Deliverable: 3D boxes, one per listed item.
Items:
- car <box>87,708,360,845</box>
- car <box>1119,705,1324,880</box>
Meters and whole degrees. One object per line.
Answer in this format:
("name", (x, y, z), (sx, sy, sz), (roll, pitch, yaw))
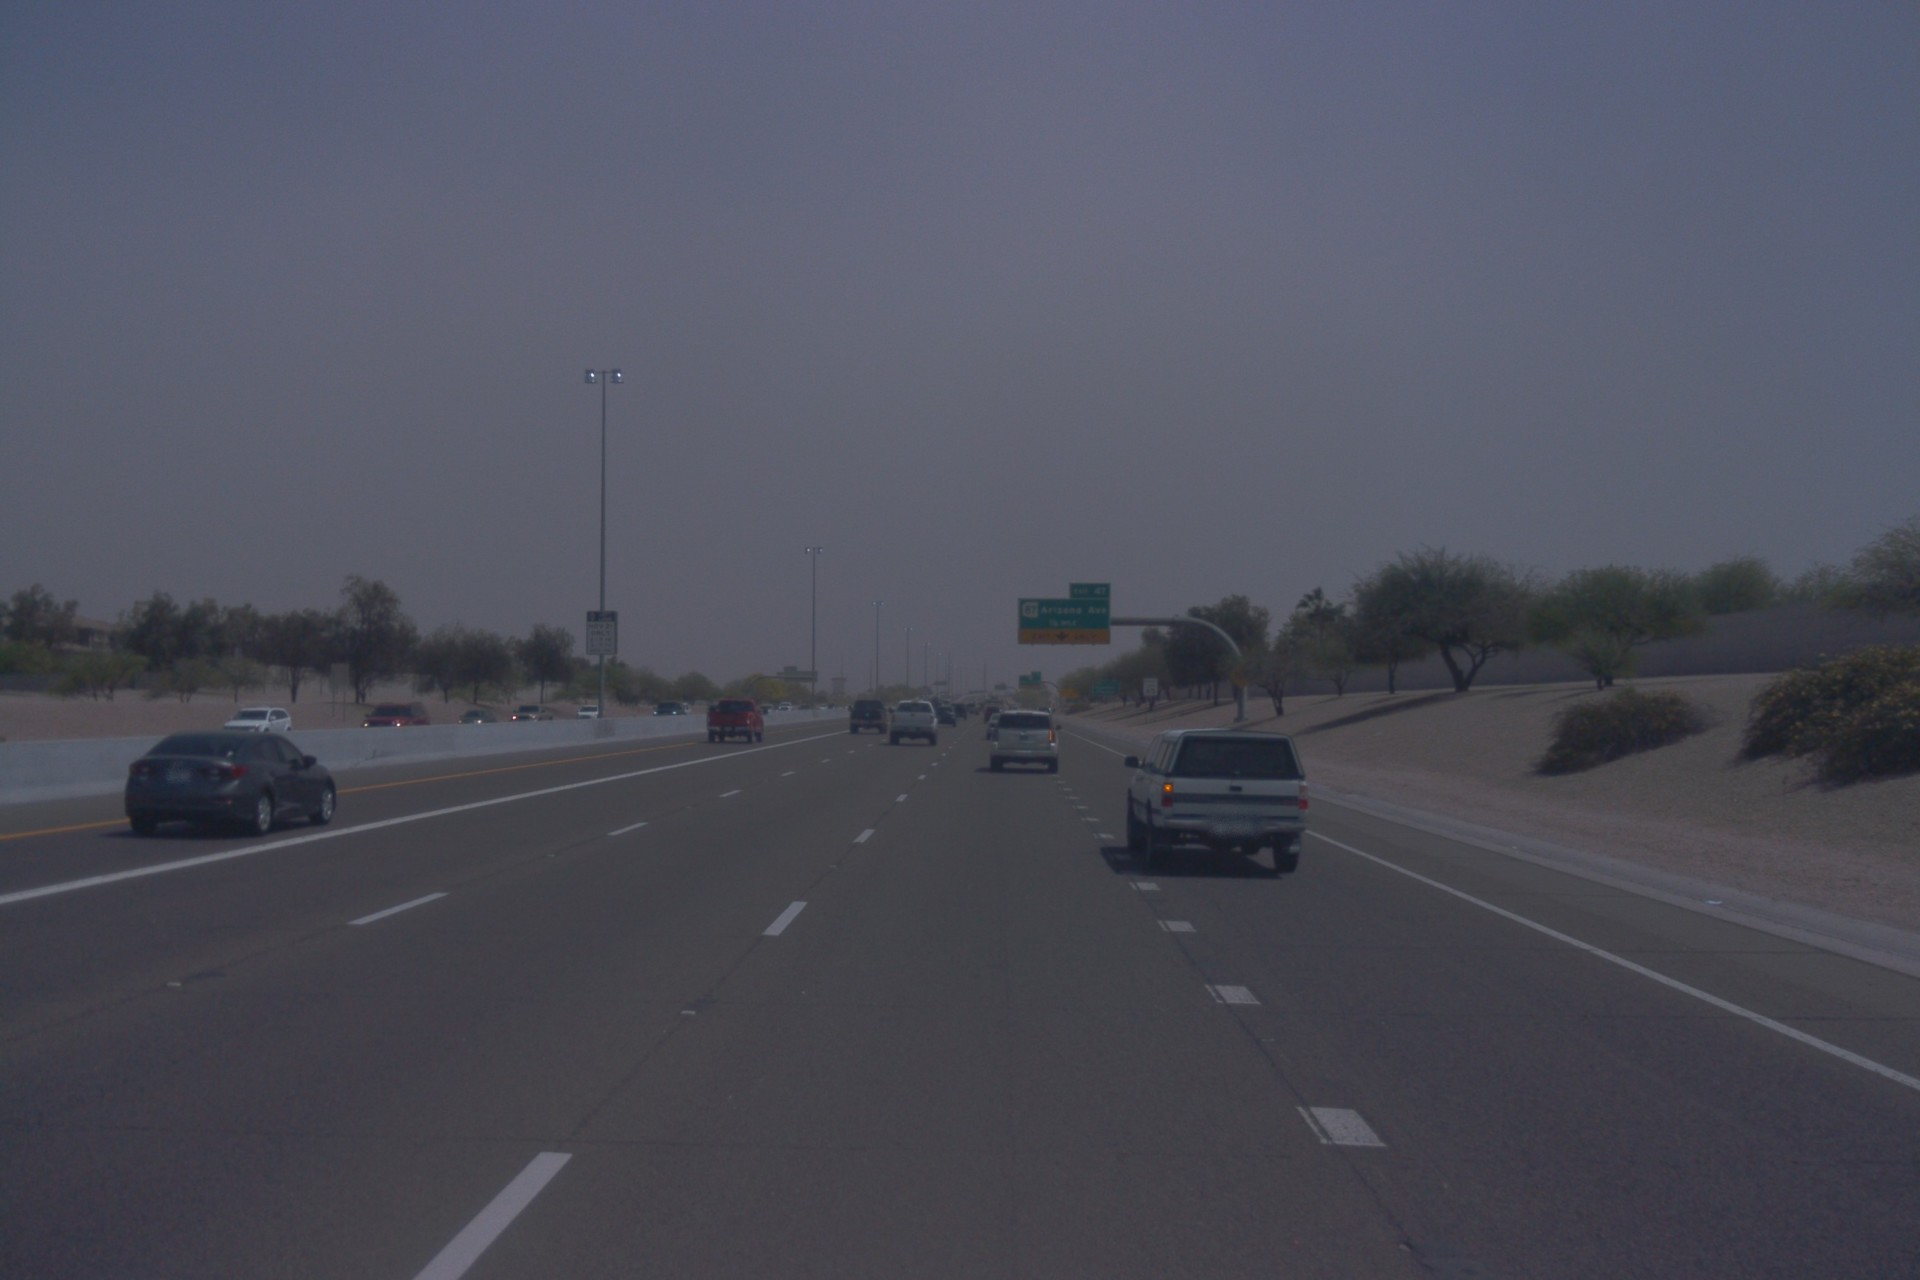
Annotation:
("car", (-10.333, 1.859, 29.676), (2.069, 1.730, 4.781), (1, -2, 1))
("car", (3.433, 1.967, 28.370), (2.134, 2.100, 5.217), (1, -2, 0))
